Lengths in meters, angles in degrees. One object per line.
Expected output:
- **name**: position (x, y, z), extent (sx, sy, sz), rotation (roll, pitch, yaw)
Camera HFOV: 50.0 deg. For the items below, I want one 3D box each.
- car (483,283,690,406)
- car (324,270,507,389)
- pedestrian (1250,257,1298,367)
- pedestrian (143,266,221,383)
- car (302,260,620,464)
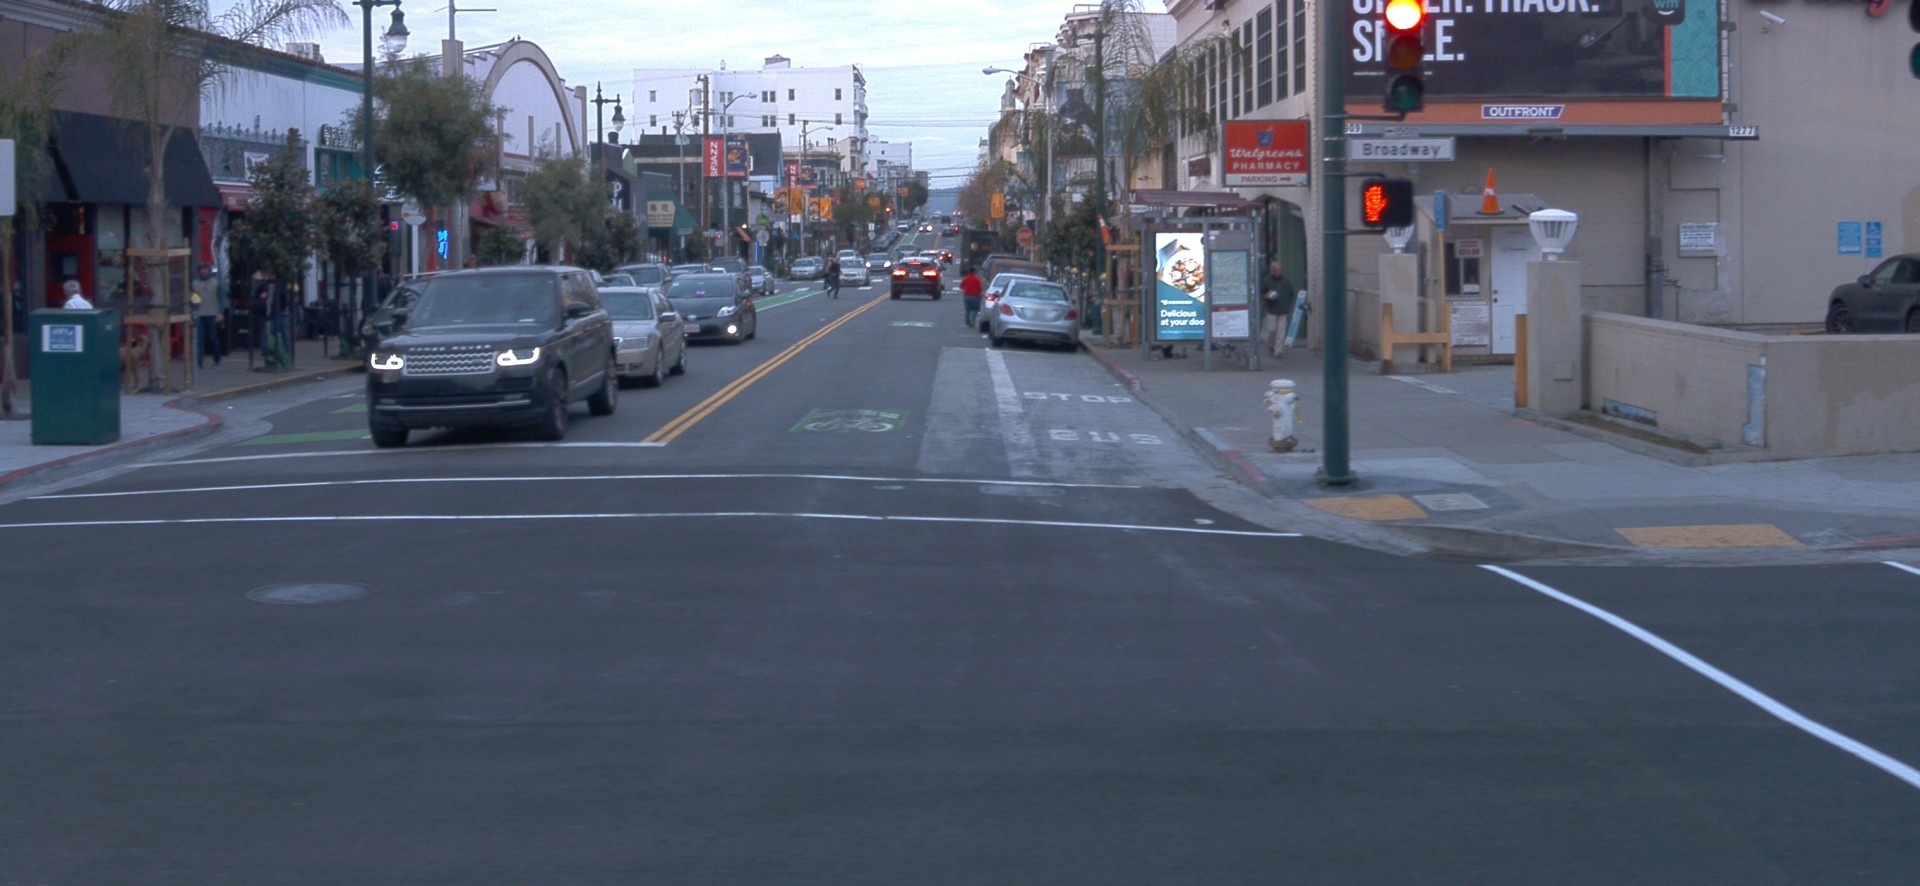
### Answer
- **car**: position (-5.382, -1.525, 30.335), extent (2.077, 1.472, 4.880), rotation (0, 6, 1)
- **car**: position (-9.986, -2.166, 38.175), extent (2.175, 1.910, 4.798), rotation (0, 6, -1)
- **pedestrian**: position (5.543, -2.326, 36.372), extent (0.782, 1.896, 0.786), rotation (0, 2, 5)
- **pedestrian**: position (-12.972, -1.996, 34.368), extent (1.010, 1.895, 0.916), rotation (0, 2, -6)
- **car**: position (-5.372, -1.033, 23.008), extent (2.218, 1.880, 5.219), rotation (0, 6, 1)
